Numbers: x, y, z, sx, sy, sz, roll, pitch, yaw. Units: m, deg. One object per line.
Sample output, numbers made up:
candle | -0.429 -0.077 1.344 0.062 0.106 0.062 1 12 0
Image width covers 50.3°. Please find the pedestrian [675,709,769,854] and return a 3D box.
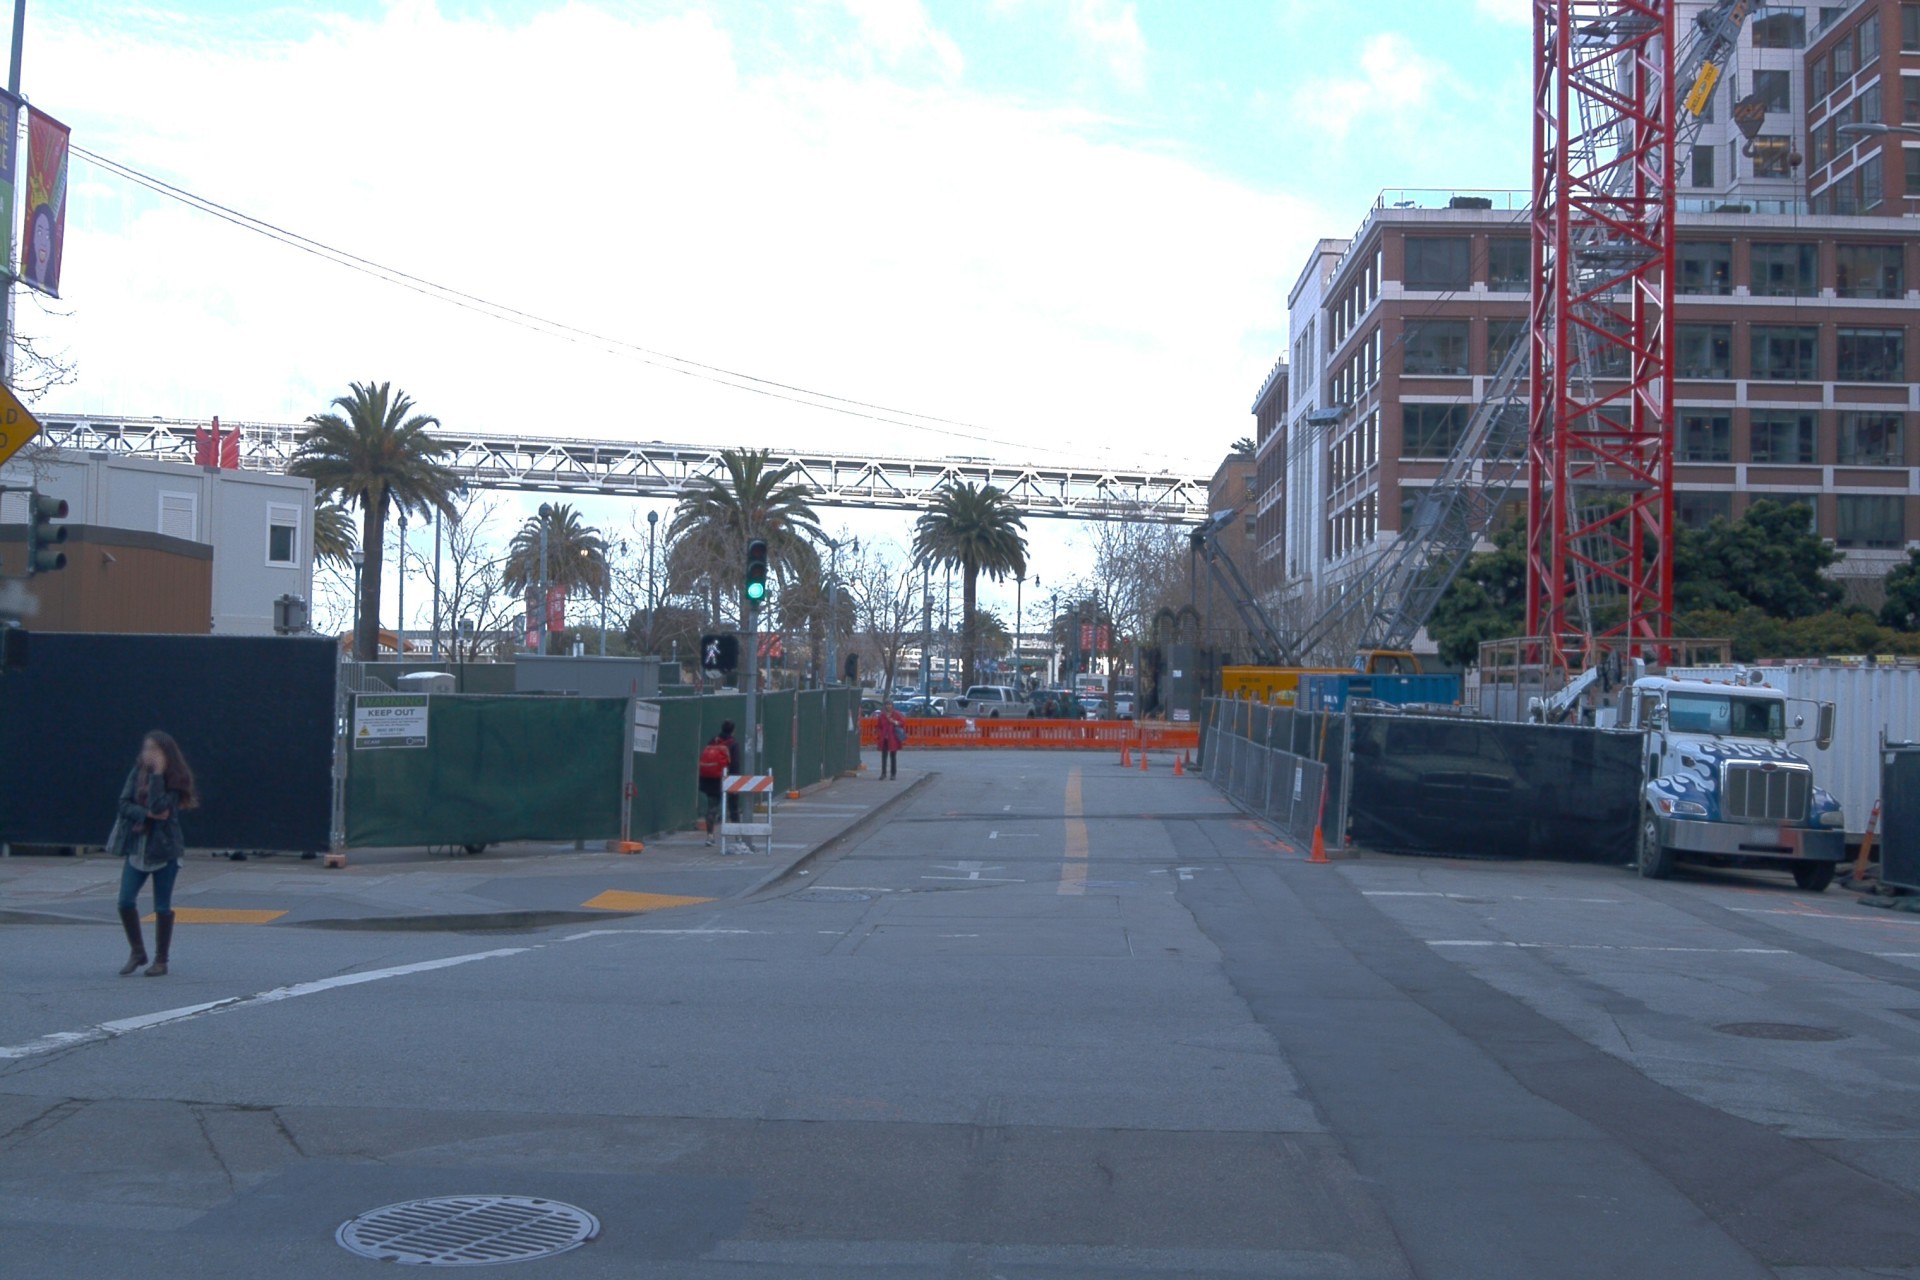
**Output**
pedestrian | -3.038 1.786 26.178 0.771 1.760 1.196 1 0 17

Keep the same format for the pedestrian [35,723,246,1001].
pedestrian | -5.477 1.446 13.723 0.848 1.720 1.092 1 0 10

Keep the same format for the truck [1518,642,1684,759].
truck | 9.279 0.819 29.874 1.127 1.550 4.267 1 0 1

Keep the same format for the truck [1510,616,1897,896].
truck | 9.988 1.389 28.401 2.982 3.380 7.060 1 0 2
